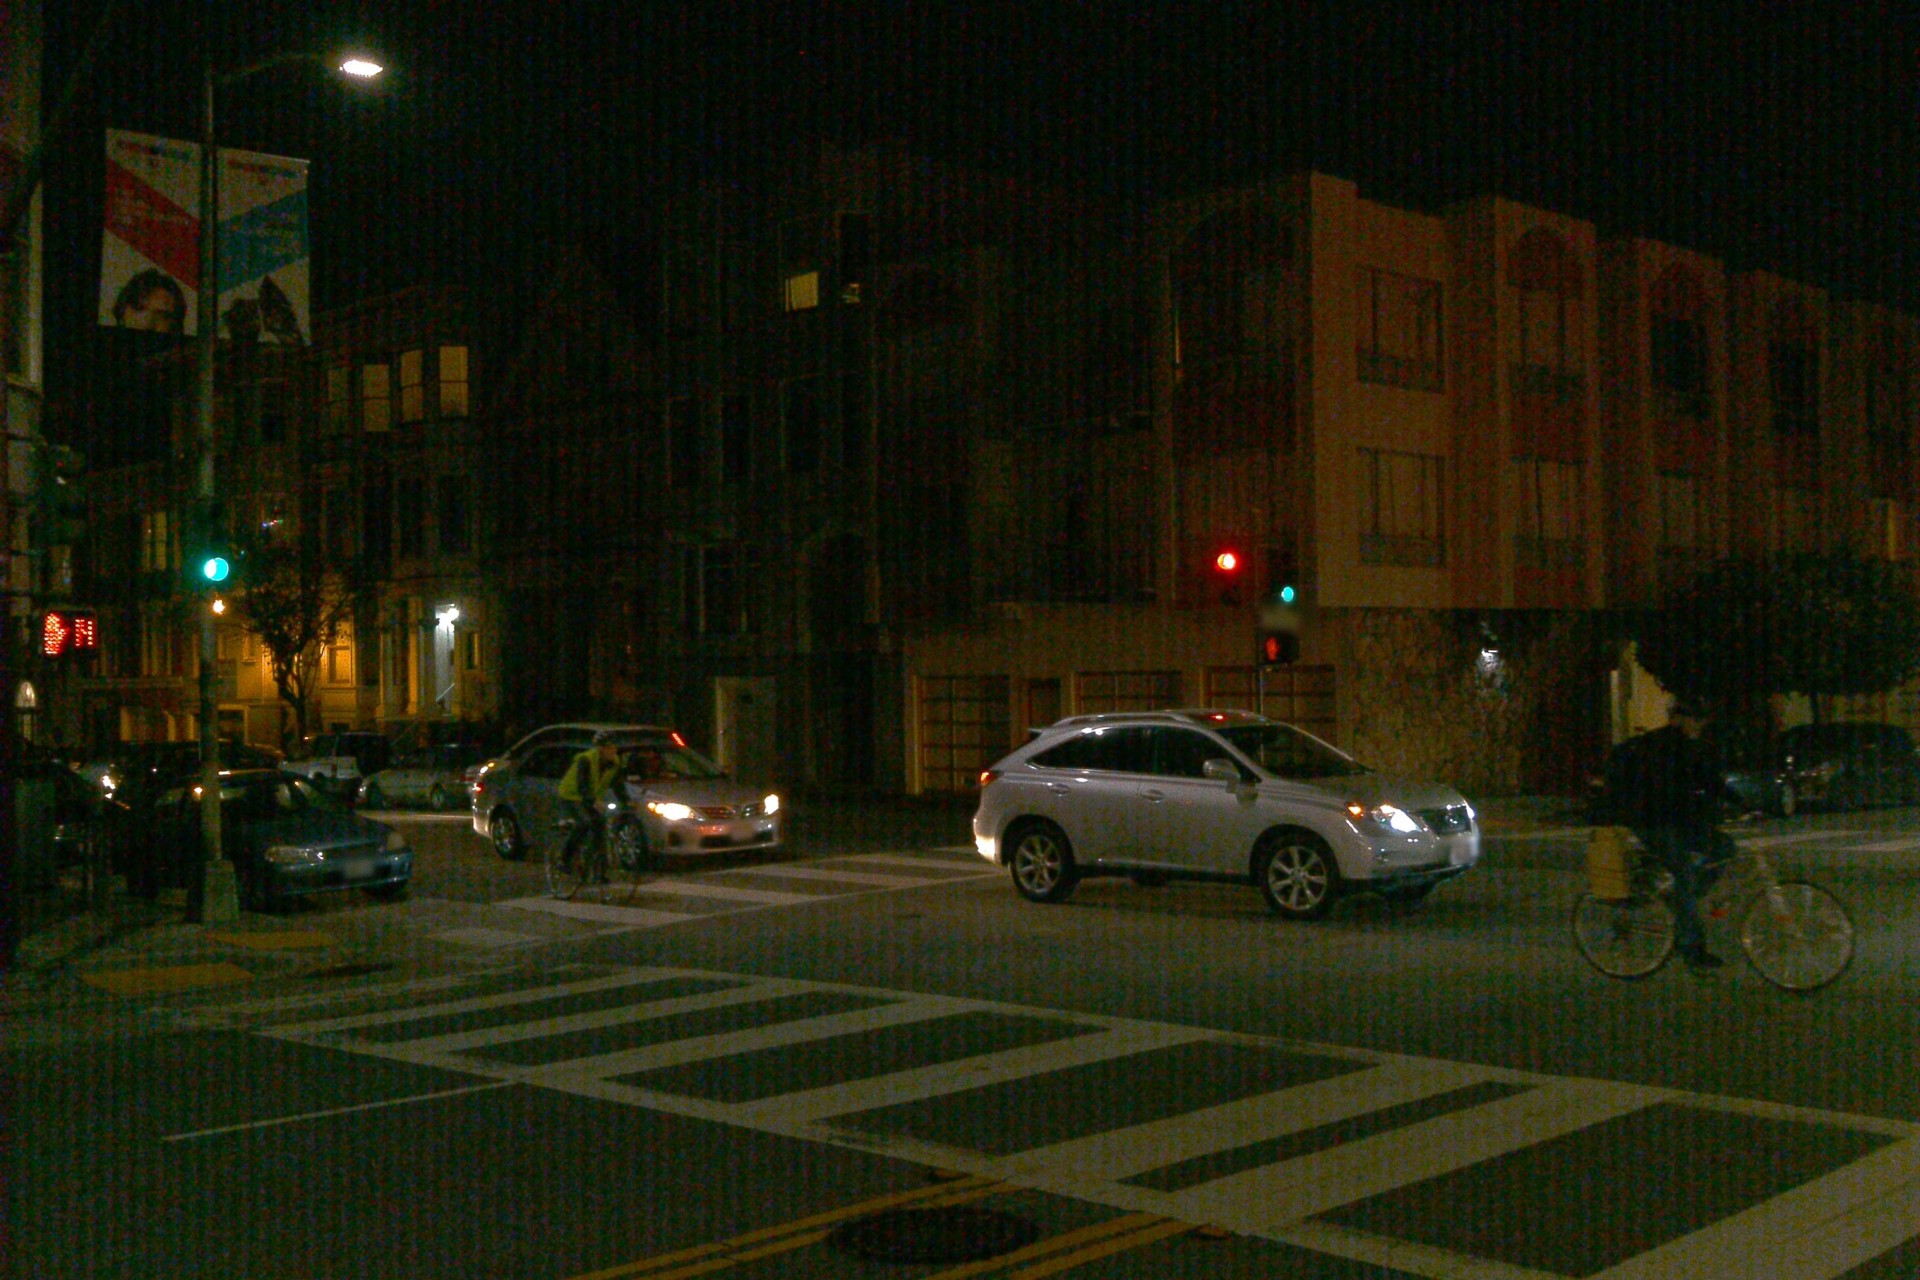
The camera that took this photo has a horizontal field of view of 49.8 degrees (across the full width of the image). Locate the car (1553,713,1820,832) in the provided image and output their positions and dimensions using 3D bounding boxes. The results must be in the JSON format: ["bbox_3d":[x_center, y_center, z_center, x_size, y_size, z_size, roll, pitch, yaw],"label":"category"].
[{"bbox_3d":[10.604,1.856,29.963,1.967,1.430,4.633,1,0,42],"label":"car"}]

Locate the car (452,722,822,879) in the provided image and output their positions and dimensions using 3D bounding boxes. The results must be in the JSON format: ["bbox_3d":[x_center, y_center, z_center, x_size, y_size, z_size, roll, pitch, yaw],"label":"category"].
[{"bbox_3d":[-3.914,1.818,24.524,2.125,1.450,4.459,1,0,-44],"label":"car"}]

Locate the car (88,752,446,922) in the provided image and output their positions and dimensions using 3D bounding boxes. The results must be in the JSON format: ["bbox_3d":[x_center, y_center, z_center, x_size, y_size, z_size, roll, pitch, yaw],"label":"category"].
[{"bbox_3d":[-7.499,2.020,22.146,1.946,1.350,4.278,1,0,-44],"label":"car"}]

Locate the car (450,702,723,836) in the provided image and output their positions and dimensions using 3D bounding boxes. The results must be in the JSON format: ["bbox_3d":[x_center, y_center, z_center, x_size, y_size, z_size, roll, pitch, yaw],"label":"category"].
[{"bbox_3d":[-5.776,1.895,31.602,1.960,1.720,4.390,1,0,-44],"label":"car"}]

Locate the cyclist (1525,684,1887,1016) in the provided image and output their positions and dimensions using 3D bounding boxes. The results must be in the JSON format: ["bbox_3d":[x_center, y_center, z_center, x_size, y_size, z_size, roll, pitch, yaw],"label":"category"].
[{"bbox_3d":[4.656,1.243,12.969,1.926,1.870,0.832,1,0,40],"label":"cyclist"}]

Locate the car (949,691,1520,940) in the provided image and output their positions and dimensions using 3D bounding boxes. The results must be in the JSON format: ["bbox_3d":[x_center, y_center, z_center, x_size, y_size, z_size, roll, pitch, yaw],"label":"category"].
[{"bbox_3d":[2.342,1.422,18.418,4.614,1.760,2.139,1,0,42],"label":"car"}]

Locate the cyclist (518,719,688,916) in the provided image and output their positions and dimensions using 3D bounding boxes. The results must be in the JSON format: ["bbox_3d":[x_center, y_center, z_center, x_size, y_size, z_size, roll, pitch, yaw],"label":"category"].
[{"bbox_3d":[-3.504,1.687,20.185,0.771,1.750,1.769,1,0,-43],"label":"cyclist"}]

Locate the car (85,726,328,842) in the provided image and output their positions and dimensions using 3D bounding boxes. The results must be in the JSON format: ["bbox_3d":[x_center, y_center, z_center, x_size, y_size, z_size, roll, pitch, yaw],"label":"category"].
[{"bbox_3d":[-12.088,2.236,33.003,2.021,1.480,4.494,1,0,-43],"label":"car"}]
